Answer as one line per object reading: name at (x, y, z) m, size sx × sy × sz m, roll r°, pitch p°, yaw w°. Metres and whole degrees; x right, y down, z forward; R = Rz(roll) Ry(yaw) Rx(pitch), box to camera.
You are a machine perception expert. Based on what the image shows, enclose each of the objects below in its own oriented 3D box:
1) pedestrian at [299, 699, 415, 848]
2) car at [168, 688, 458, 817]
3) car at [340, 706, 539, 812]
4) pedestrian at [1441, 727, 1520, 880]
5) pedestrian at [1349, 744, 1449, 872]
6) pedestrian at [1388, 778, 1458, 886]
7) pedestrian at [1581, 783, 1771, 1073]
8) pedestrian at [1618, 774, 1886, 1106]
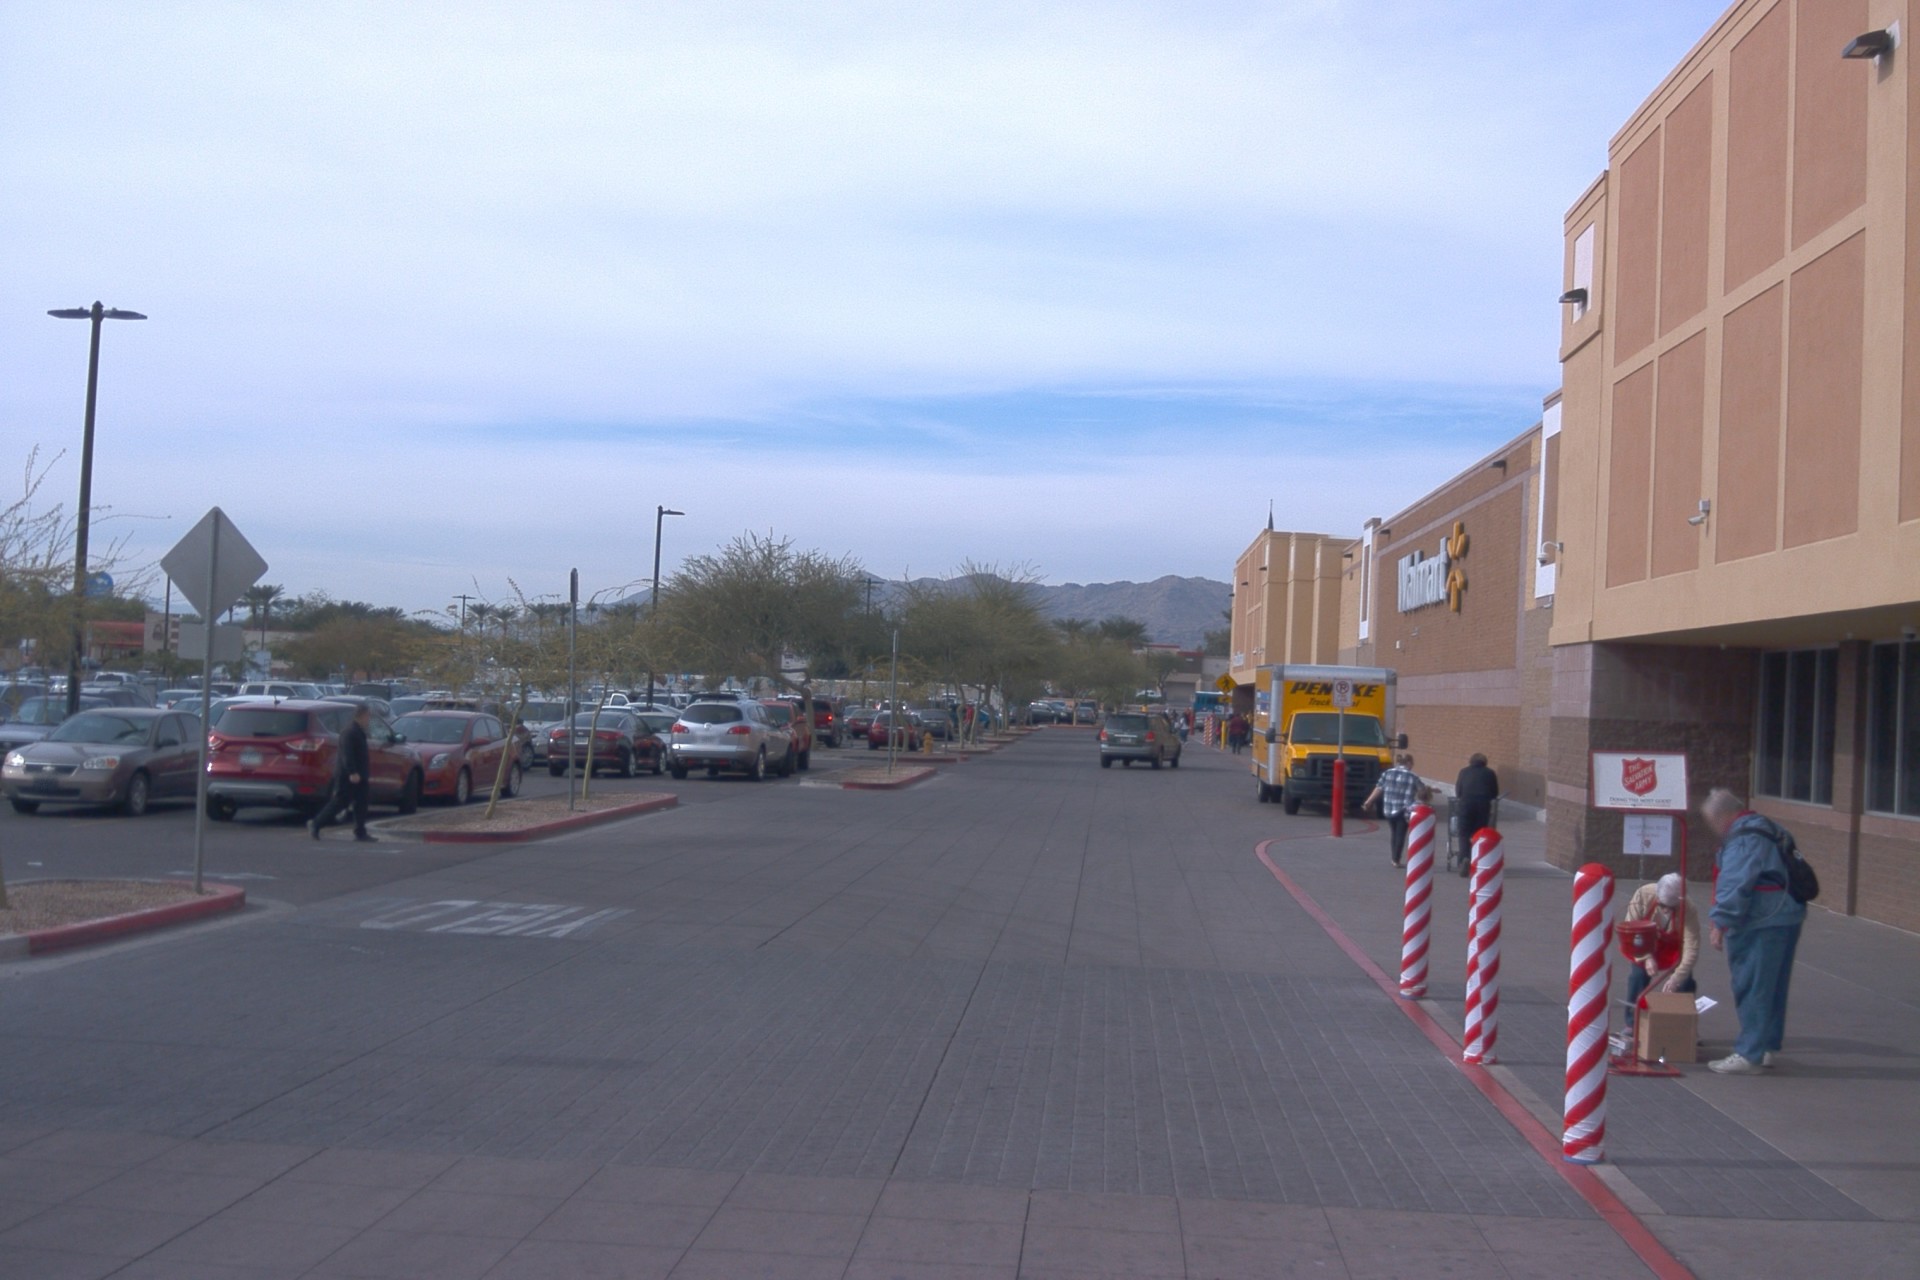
pedestrian at (-7.358, 1.615, 25.476) m, size 0.999 × 1.760 × 1.001 m, roll 1°, pitch -1°, yaw 6°
car at (-8.980, 1.534, 29.430) m, size 2.115 × 1.630 × 4.730 m, roll 1°, pitch -2°, yaw 7°
car at (-8.515, 1.912, 34.475) m, size 1.906 × 1.600 × 4.184 m, roll 1°, pitch -2°, yaw 4°
pedestrian at (6.726, 2.088, 26.970) m, size 0.938 × 1.900 × 1.327 m, roll 1°, pitch -2°, yaw 13°
pedestrian at (5.907, 2.233, 27.977) m, size 1.121 × 1.630 × 1.173 m, roll 1°, pitch -2°, yaw 21°
pedestrian at (6.091, 2.505, 27.374) m, size 0.821 × 1.330 × 0.942 m, roll 1°, pitch -2°, yaw 16°
pedestrian at (4.561, 1.801, 13.344) m, size 1.005 × 1.700 × 1.026 m, roll 1°, pitch -1°, yaw 11°
pedestrian at (4.748, 1.763, 12.564) m, size 1.117 × 1.860 × 1.044 m, roll 1°, pitch -1°, yaw -11°
